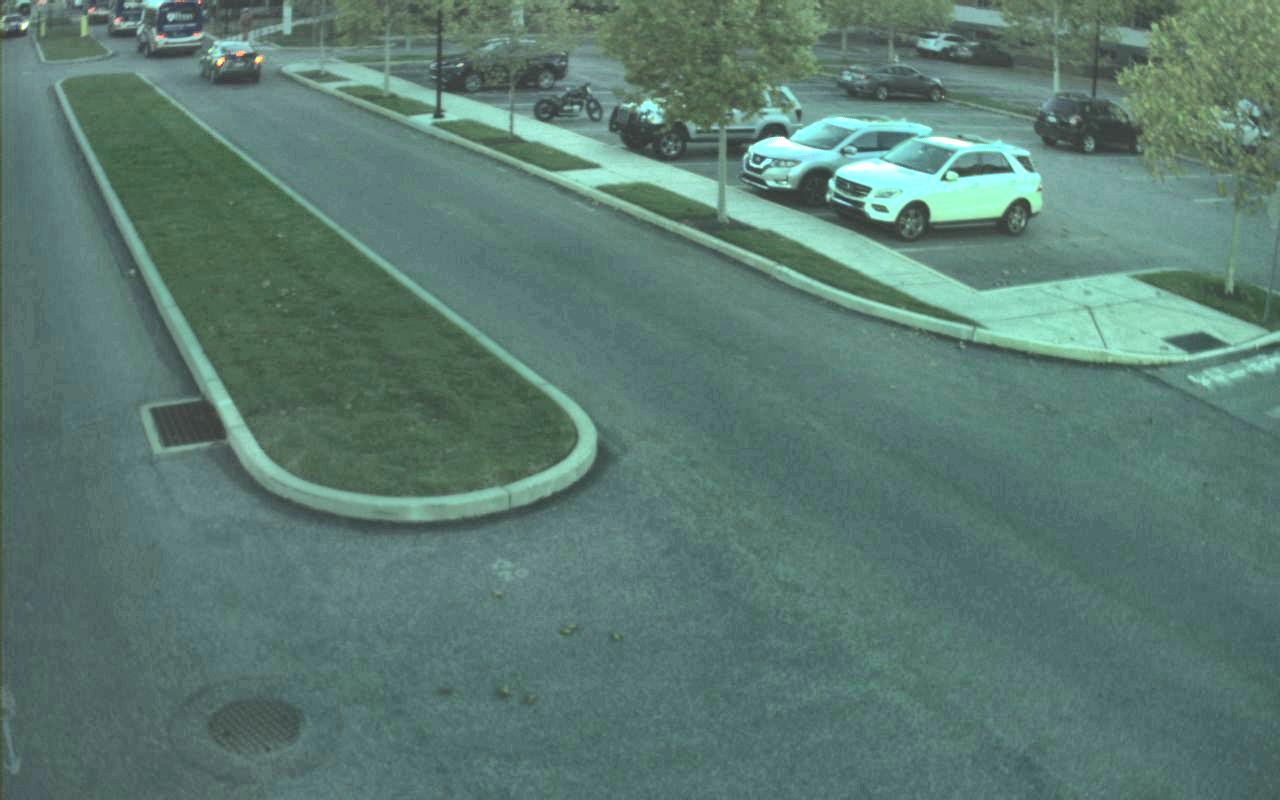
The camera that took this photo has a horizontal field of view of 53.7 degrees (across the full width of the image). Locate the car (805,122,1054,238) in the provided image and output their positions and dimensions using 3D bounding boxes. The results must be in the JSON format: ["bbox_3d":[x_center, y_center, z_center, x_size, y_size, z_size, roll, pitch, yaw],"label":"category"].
[{"bbox_3d":[5.646,-4.308,23.502,4.793,1.794,2.046,-10,18,-29],"label":"car"}]

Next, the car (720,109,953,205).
[{"bbox_3d":[4.116,-5.078,25.539,4.635,1.624,1.977,-10,18,-27],"label":"car"}]

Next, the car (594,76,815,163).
[{"bbox_3d":[1.574,-6.750,29.649,4.929,1.817,2.065,-10,18,-28],"label":"car"}]
